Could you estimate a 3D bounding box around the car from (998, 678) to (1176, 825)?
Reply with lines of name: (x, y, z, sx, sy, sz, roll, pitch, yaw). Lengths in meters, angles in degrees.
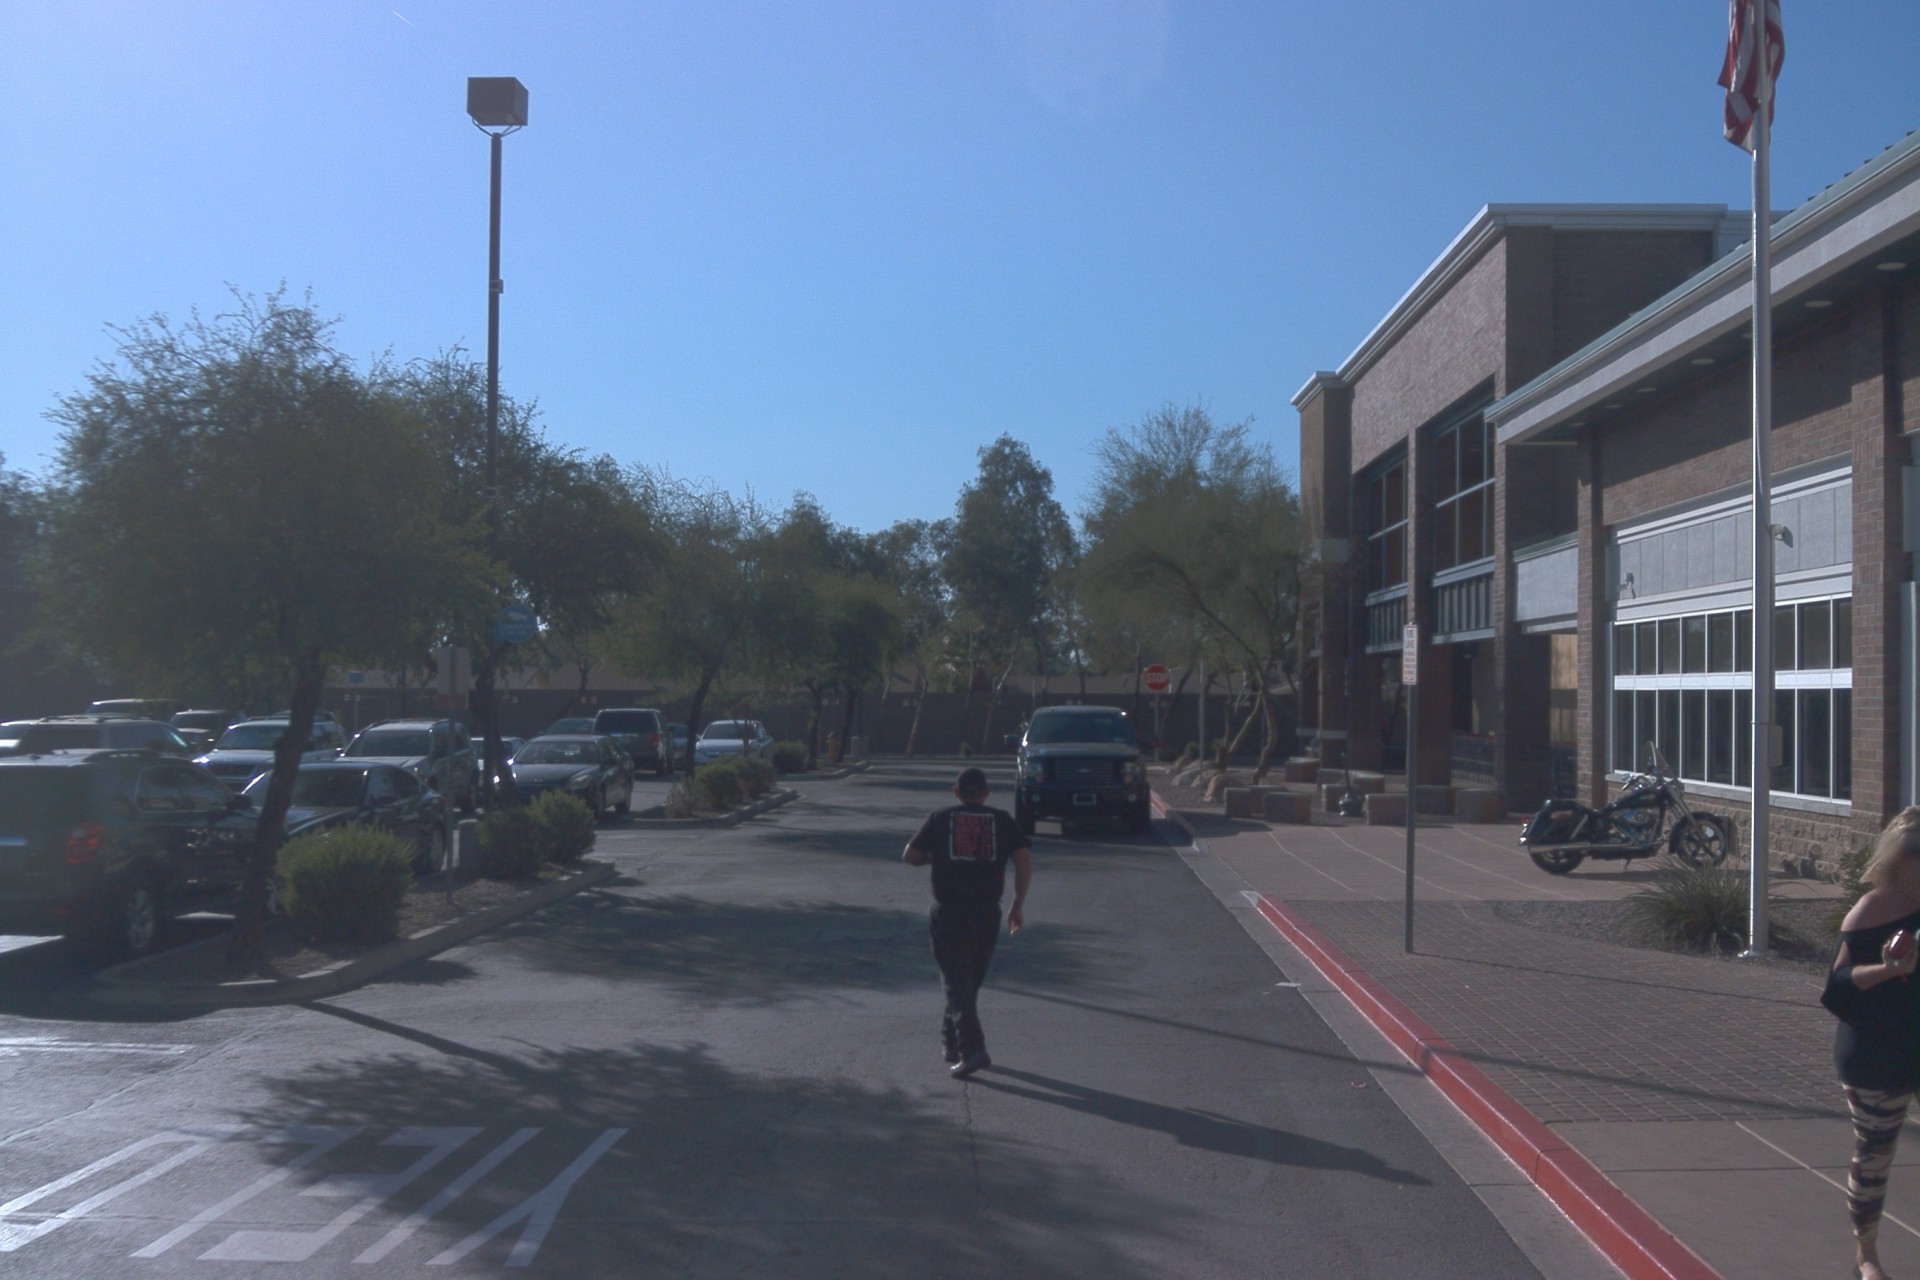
car: (1.965, 1.748, 34.041, 2.654, 2.190, 5.665, -1, -1, 1)

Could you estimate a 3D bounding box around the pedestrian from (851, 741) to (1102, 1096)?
pedestrian: (0.070, 1.534, 11.926, 1.072, 1.870, 1.187, 0, -1, -20)

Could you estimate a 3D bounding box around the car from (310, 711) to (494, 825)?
car: (-9.739, 2.197, 36.573, 1.886, 1.820, 4.571, -1, -1, 2)

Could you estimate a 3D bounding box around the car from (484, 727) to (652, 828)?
car: (-6.809, 2.359, 36.536, 1.931, 1.560, 4.779, -1, -1, 2)

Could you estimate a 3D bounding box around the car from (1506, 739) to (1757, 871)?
car: (7.570, 1.858, 23.503, 2.509, 1.430, 1.043, -1, -1, 5)

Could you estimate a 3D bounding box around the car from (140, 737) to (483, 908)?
car: (-7.300, 2.011, 23.984, 2.211, 1.640, 5.024, -1, -1, 3)
